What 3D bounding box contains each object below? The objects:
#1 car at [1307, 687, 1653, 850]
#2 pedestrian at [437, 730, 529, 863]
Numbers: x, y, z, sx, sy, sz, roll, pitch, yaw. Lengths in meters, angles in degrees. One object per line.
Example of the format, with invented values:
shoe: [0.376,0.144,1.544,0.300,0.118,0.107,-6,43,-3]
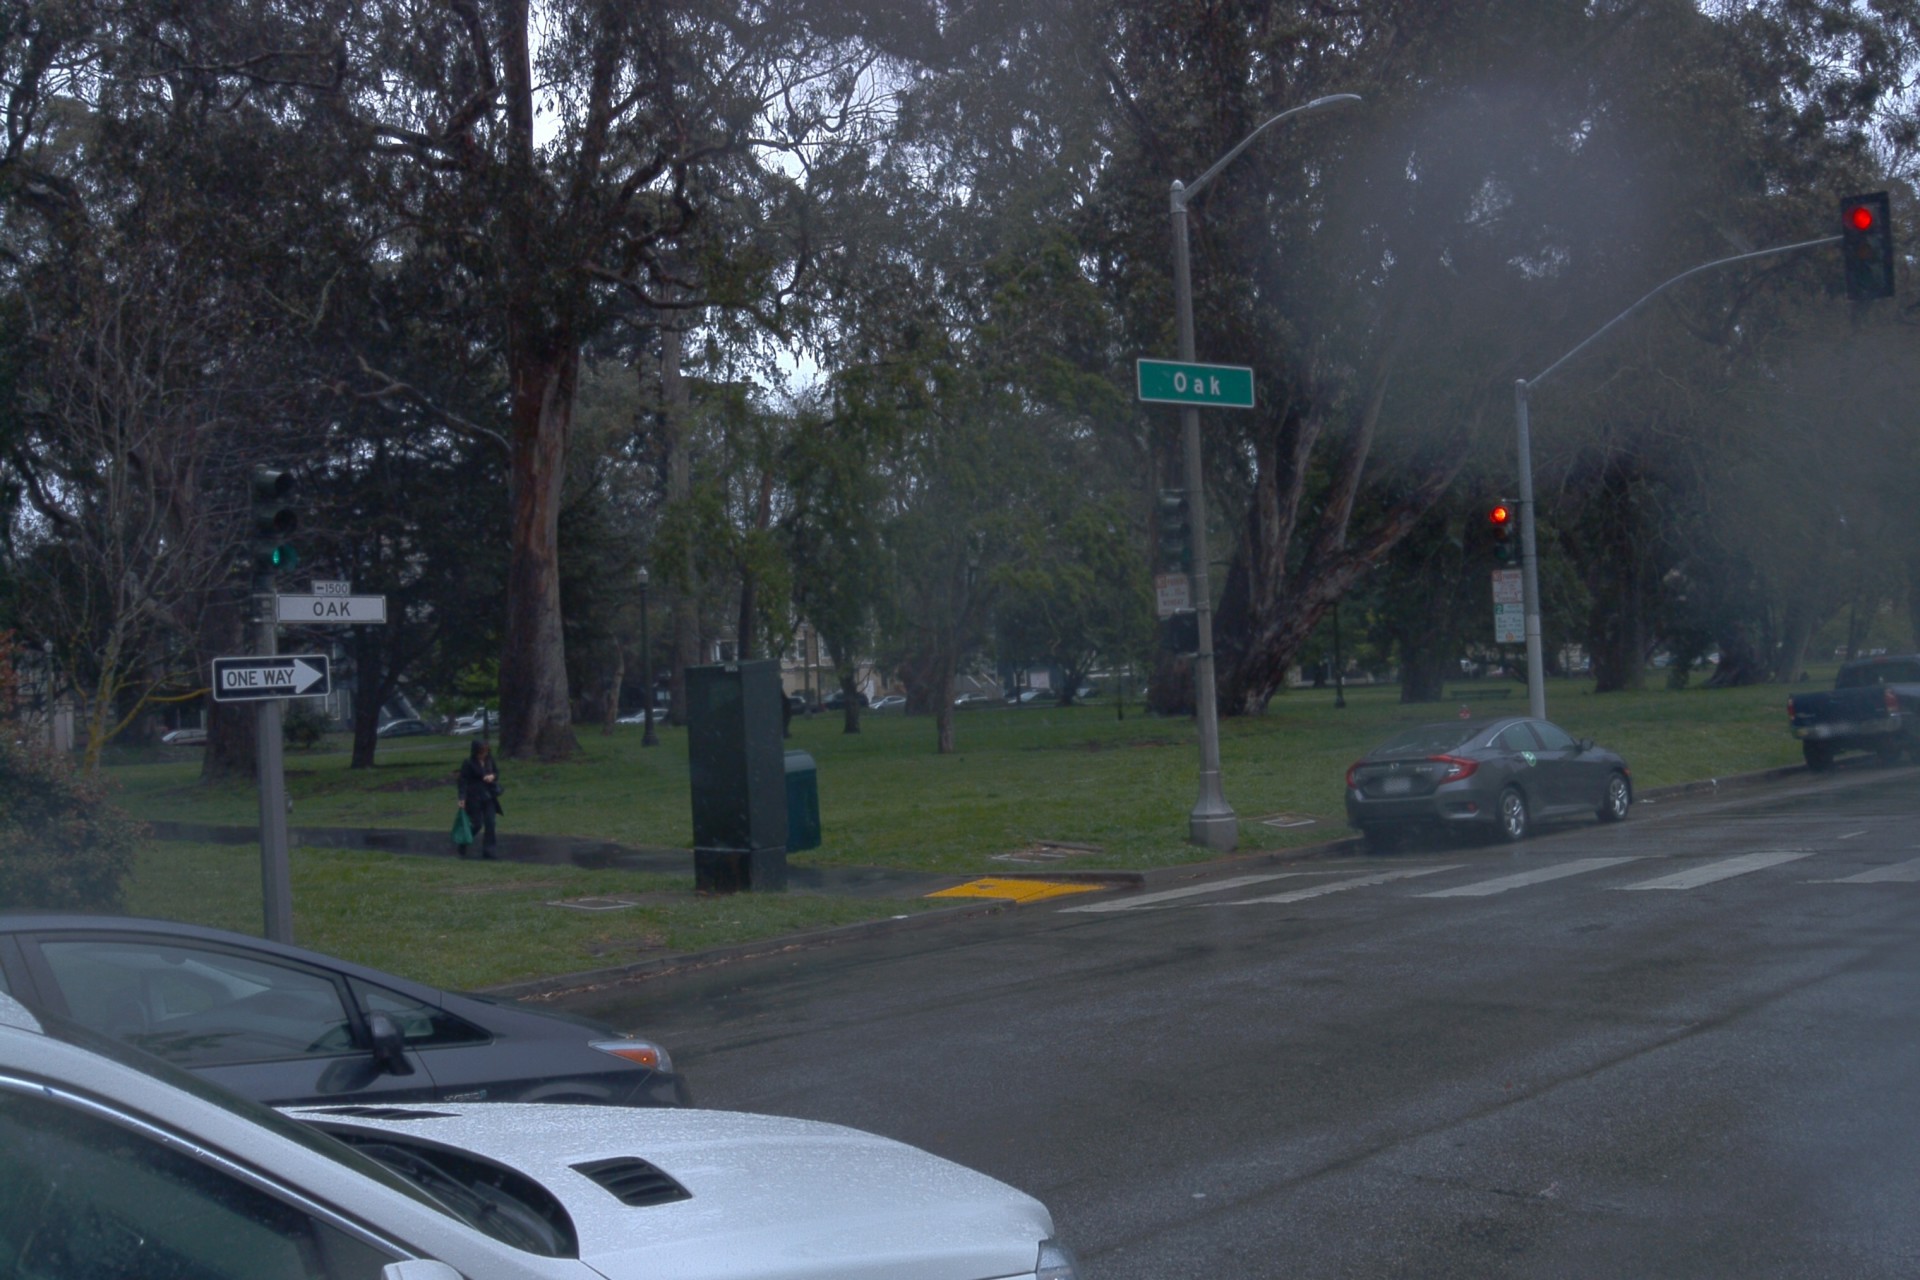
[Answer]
car: [6.194,1.417,24.128,2.031,1.540,4.554,1,2,42]
pedestrian: [-5.952,1.940,25.611,0.722,1.560,0.835,1,2,40]
